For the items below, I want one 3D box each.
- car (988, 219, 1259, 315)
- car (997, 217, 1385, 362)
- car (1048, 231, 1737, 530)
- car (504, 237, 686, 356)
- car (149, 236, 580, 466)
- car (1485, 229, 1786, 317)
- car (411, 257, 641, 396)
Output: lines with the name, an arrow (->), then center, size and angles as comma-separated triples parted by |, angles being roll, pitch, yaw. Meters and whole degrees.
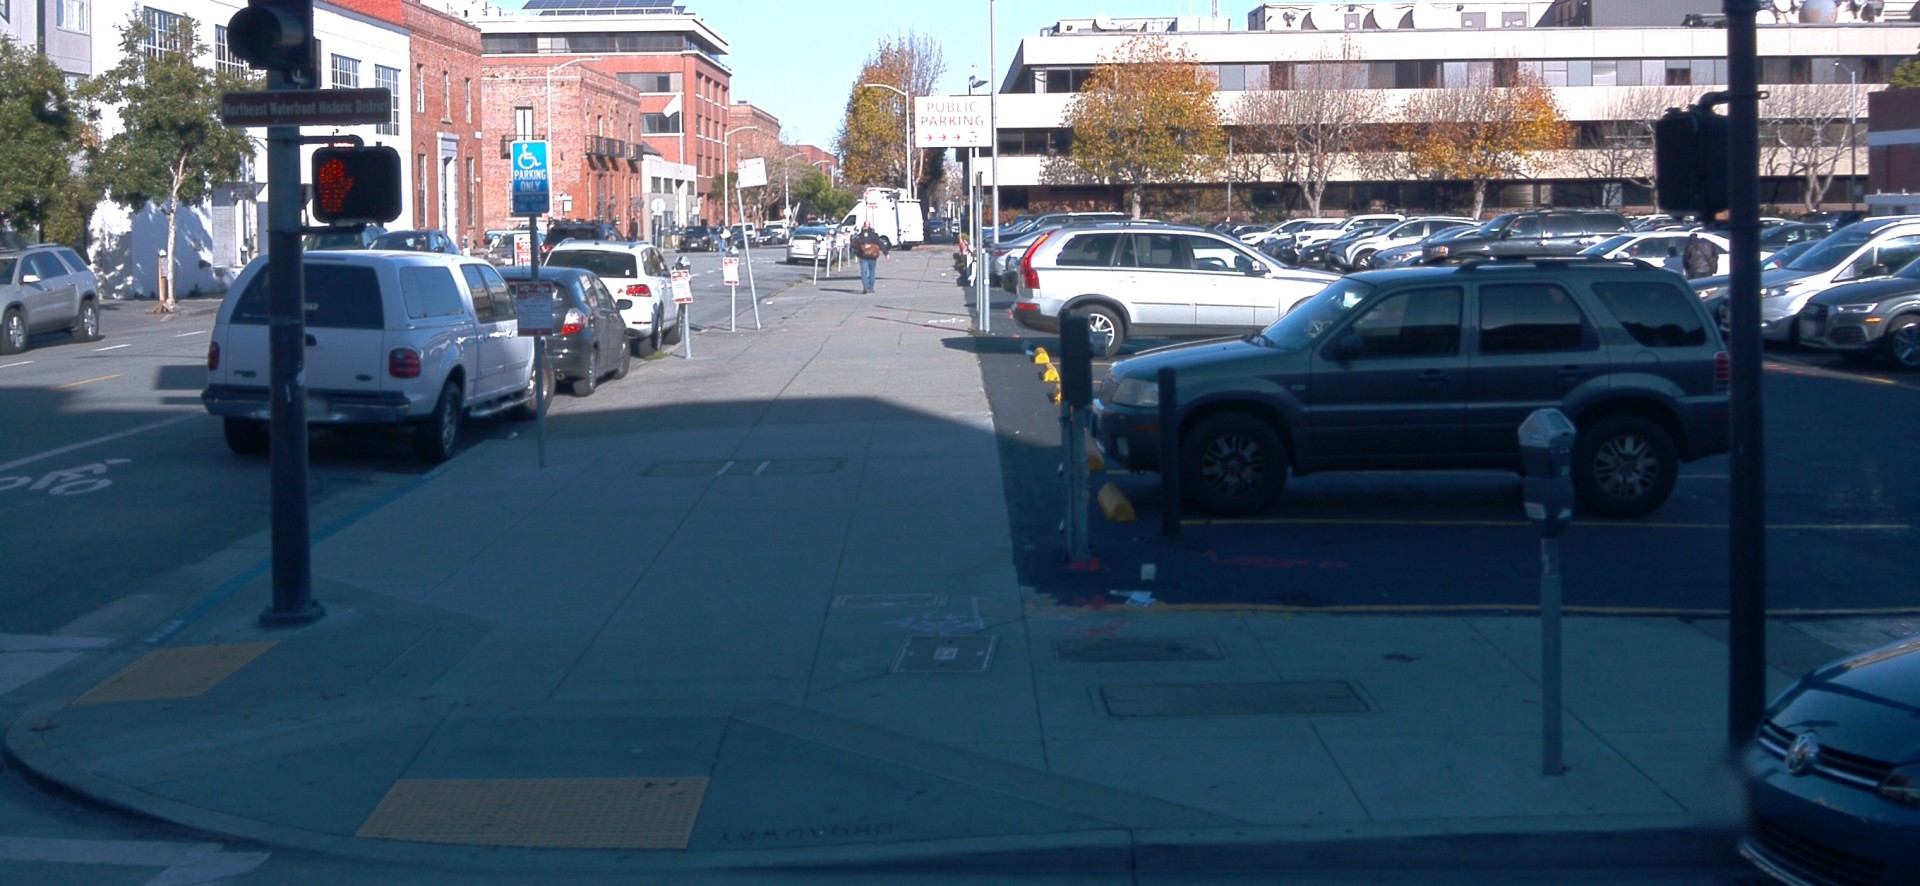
car -> 3.044, -3.353, 39.271 | 4.961, 1.737, 2.079 | -1, 3, -1
car -> 2.944, -2.048, 27.308 | 4.895, 1.787, 2.169 | 0, 3, 0
car -> 2.938, -0.516, 14.802 | 4.482, 1.948, 1.990 | -1, 3, -2
car -> -5.533, -2.327, 31.969 | 2.067, 1.684, 4.609 | -1, 5, -1
car -> -5.549, -1.055, 20.313 | 2.380, 1.913, 5.775 | 0, 5, 2
car -> 12.448, -3.168, 38.393 | 4.859, 1.527, 2.175 | -1, 4, -2
car -> -5.299, -1.520, 25.825 | 2.012, 1.535, 4.093 | 0, 5, 0
